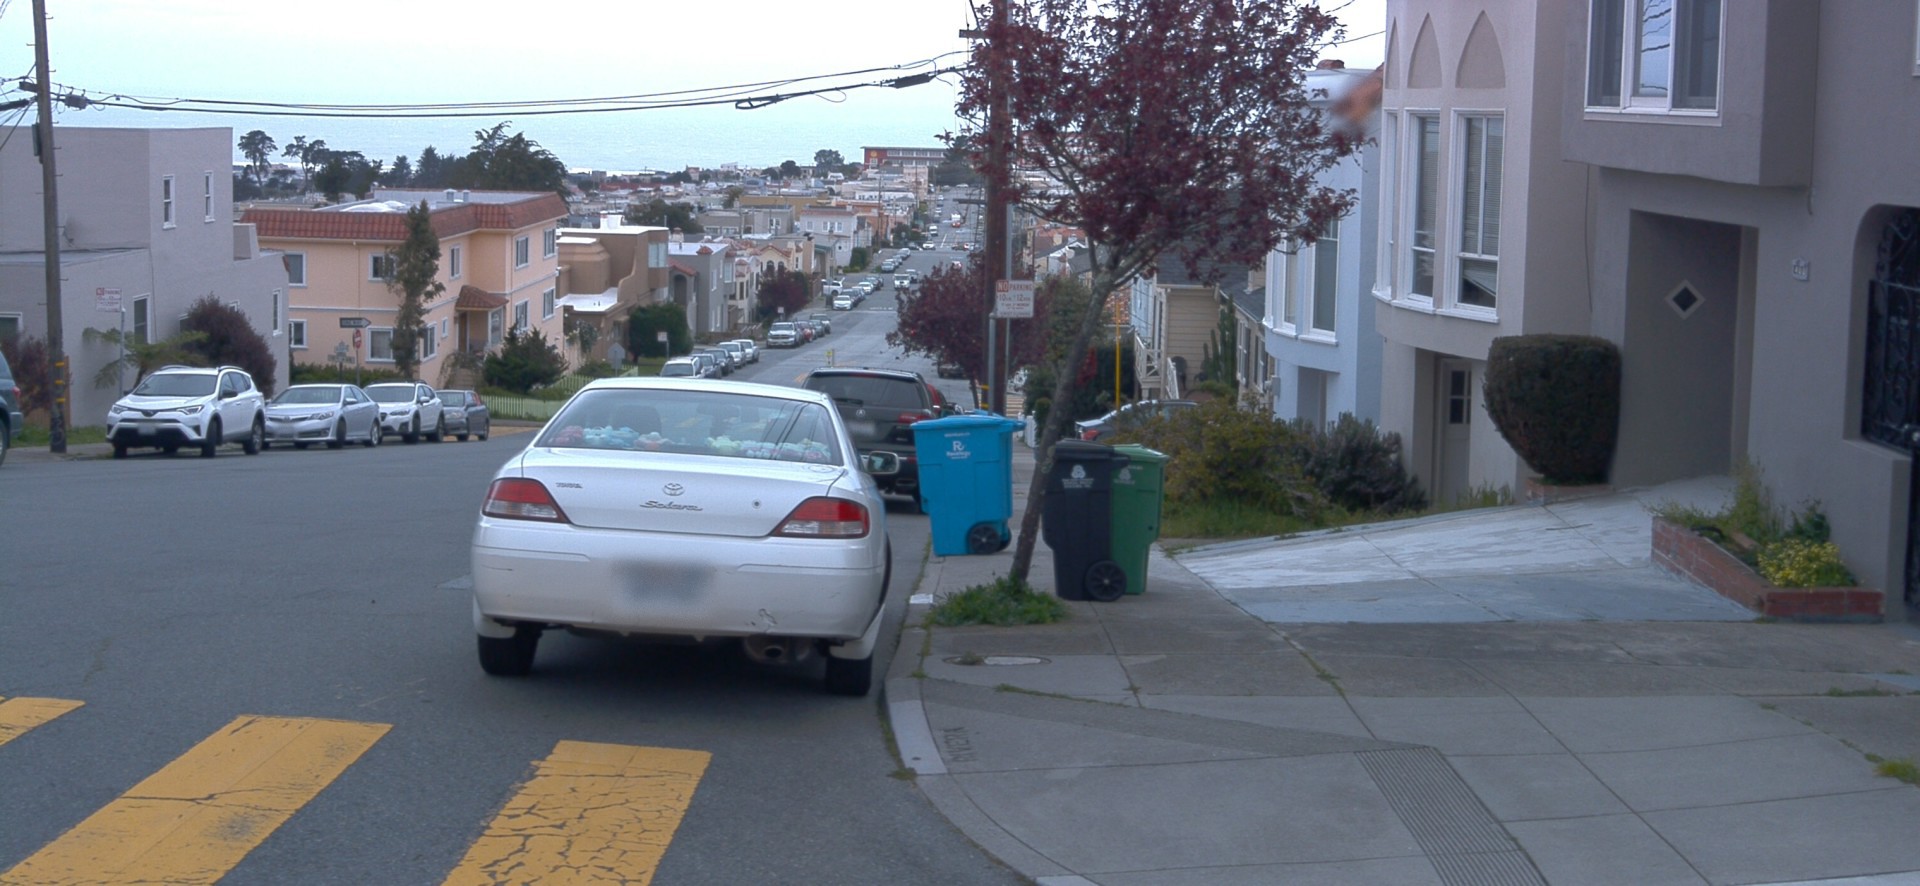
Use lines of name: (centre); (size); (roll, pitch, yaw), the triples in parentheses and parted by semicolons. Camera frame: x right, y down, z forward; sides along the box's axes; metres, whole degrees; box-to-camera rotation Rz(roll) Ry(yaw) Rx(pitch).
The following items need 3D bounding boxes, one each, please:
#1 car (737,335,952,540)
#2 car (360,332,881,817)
car: (-1.333, -0.183, 25.728); (2.320, 2.102, 4.521); (0, 5, 1)
car: (-1.447, 0.400, 10.573); (2.043, 1.703, 4.713); (0, 5, -2)
